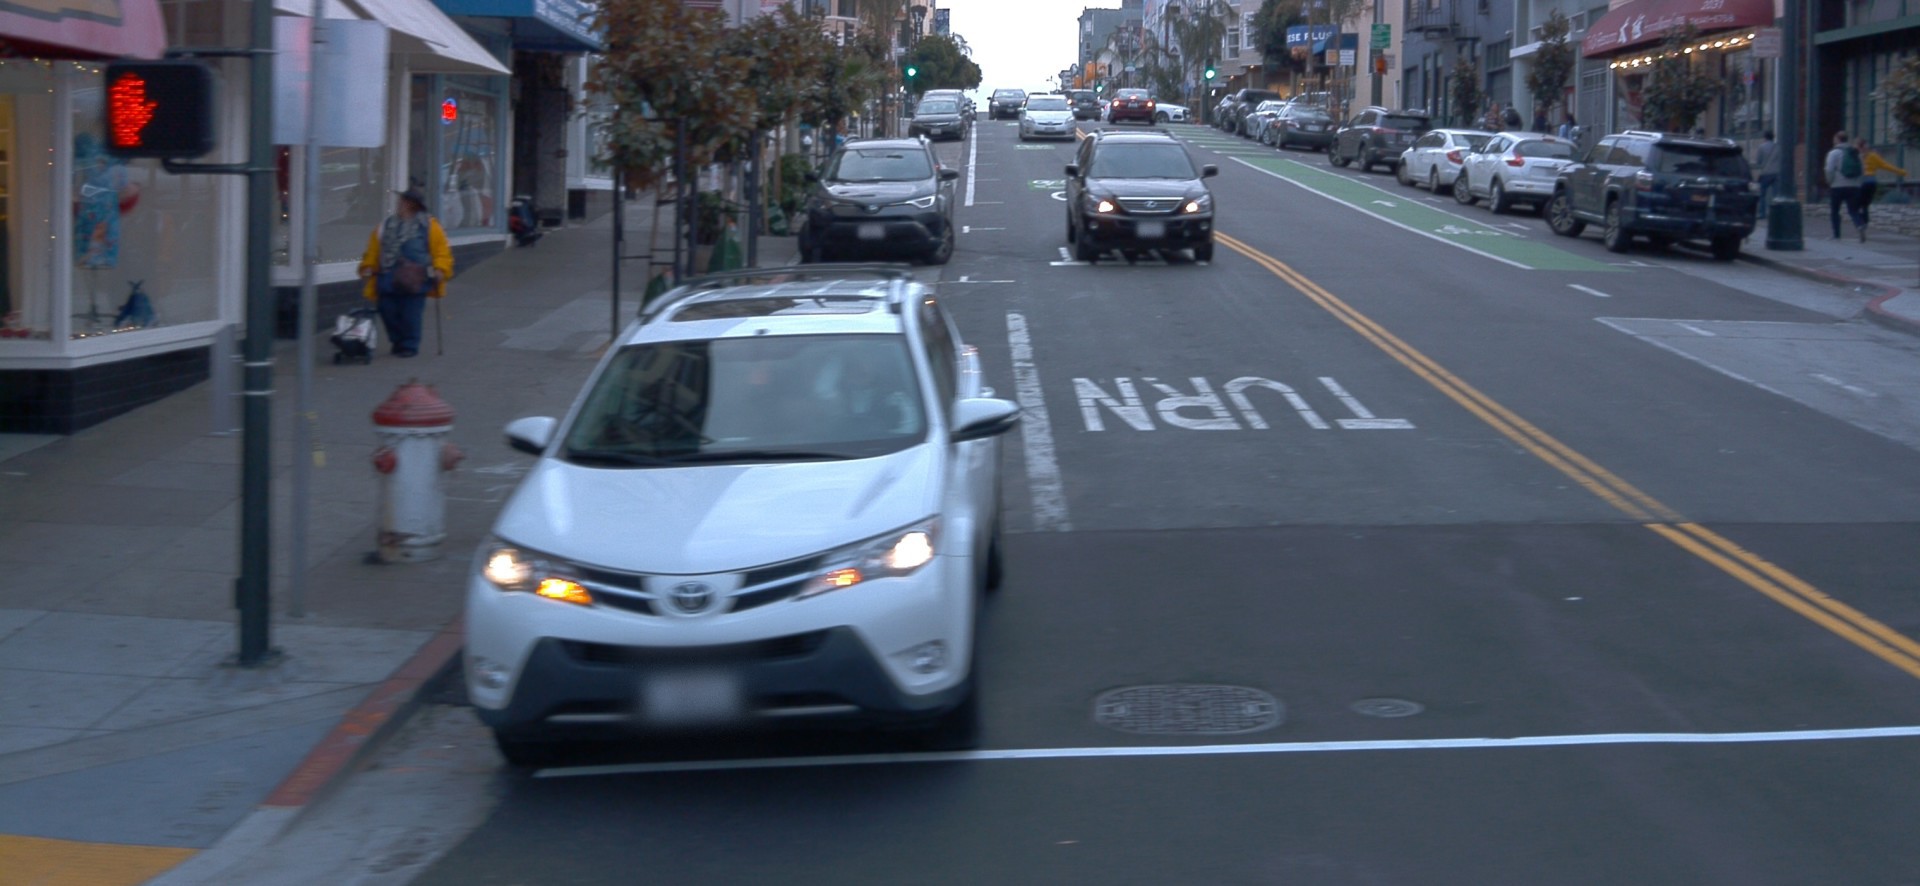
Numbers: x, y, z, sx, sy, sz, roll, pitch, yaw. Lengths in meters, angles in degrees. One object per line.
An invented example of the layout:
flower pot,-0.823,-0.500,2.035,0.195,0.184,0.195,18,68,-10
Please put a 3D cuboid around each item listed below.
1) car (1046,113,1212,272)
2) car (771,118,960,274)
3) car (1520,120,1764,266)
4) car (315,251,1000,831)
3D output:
car,2.283,-3.473,28.825,1.988,2.042,4.460,0,5,0
car,-1.219,-3.400,28.608,2.153,1.992,4.461,0,5,3
car,10.297,-3.779,31.452,2.179,2.052,4.942,0,5,1
car,-1.003,0.120,9.336,2.260,1.922,4.593,0,5,2
